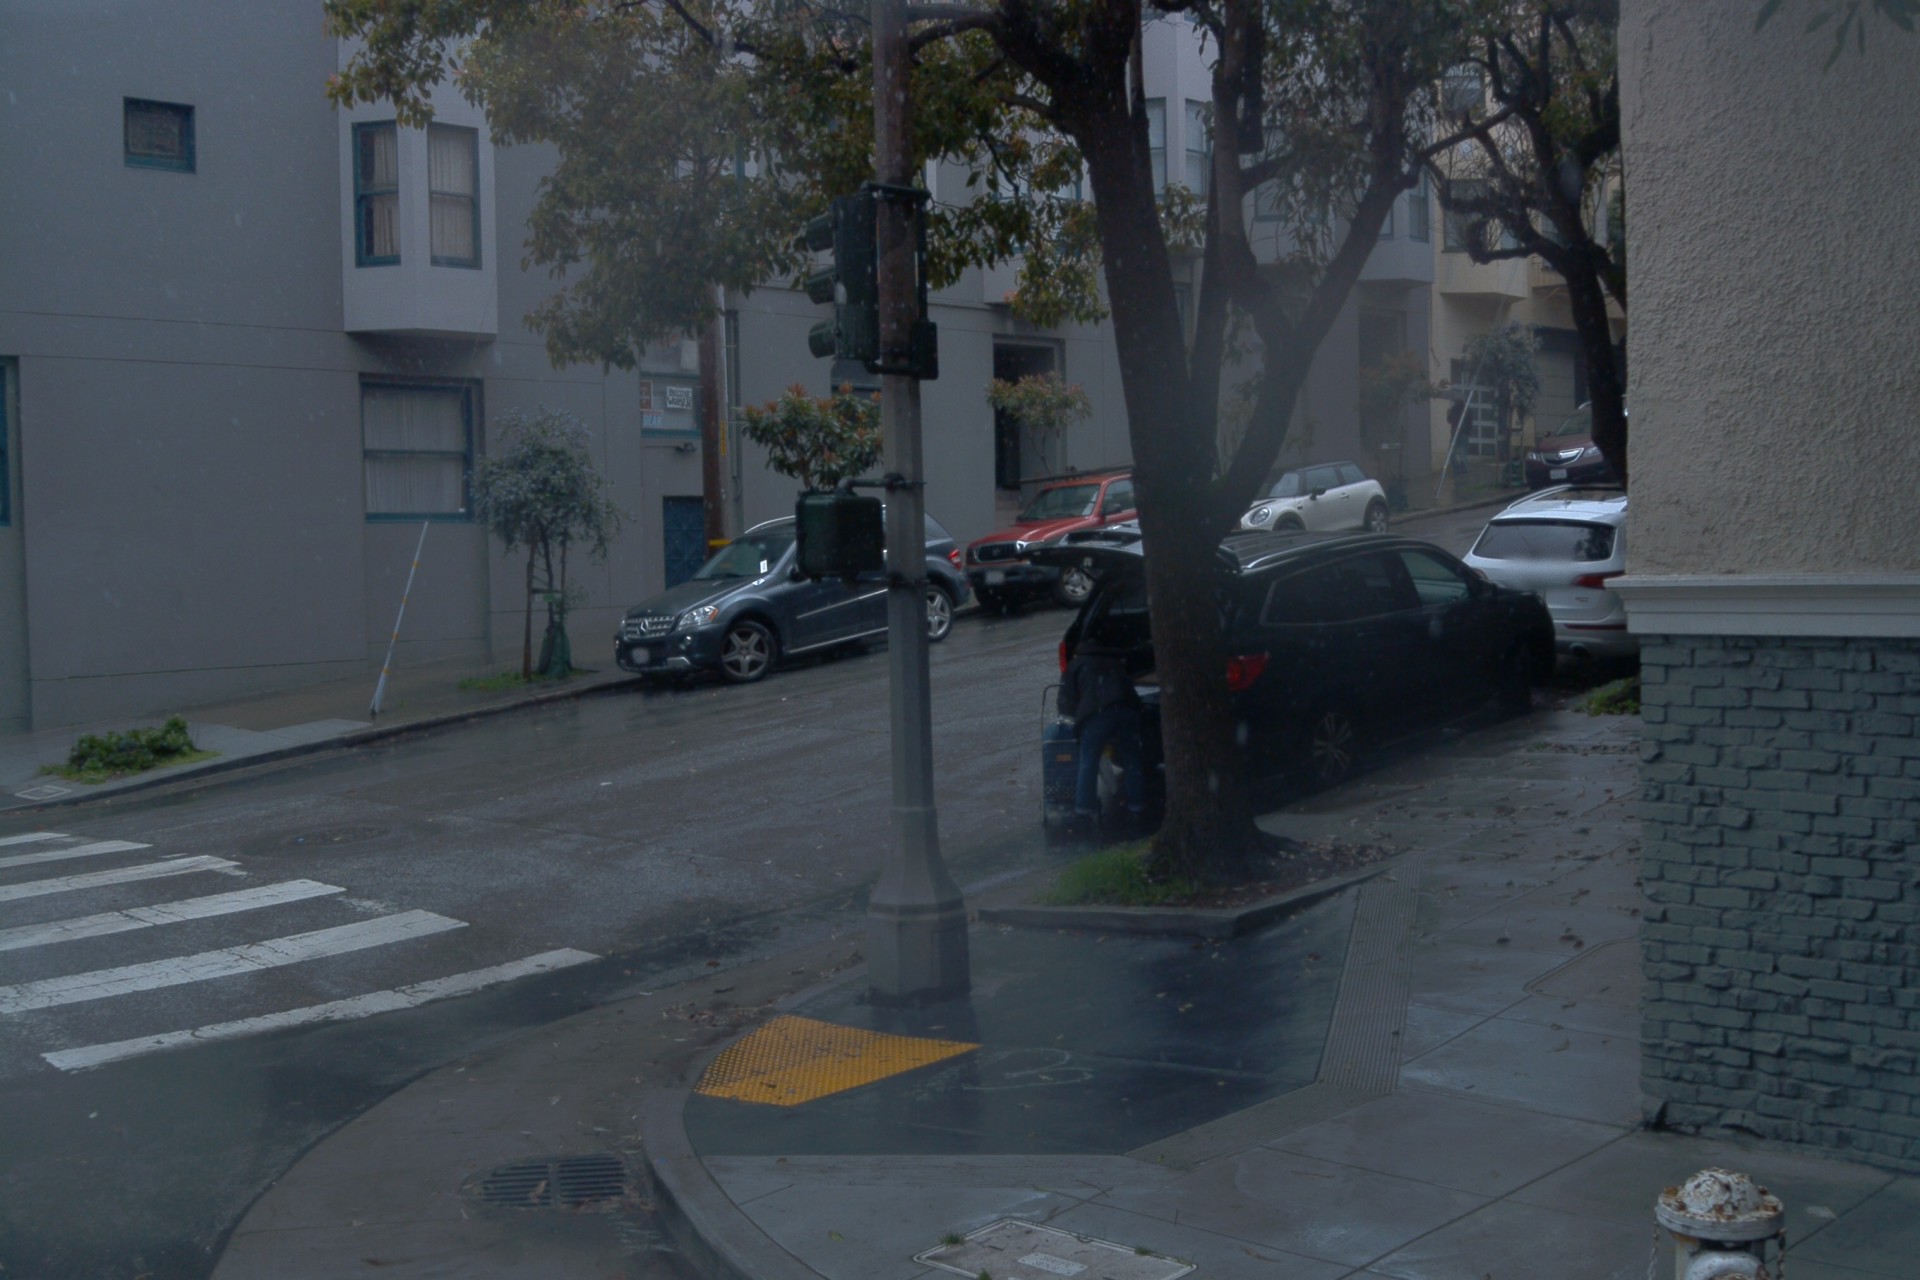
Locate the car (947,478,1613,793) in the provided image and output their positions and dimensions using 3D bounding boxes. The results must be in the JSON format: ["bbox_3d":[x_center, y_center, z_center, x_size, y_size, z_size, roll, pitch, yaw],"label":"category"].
[{"bbox_3d":[2.723,-0.022,16.096,2.384,2.040,5.680,0,0,43],"label":"car"}]

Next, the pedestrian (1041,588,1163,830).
[{"bbox_3d":[1.003,0.465,14.252,0.792,1.634,0.885,0,0,8],"label":"pedestrian"}]

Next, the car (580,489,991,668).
[{"bbox_3d":[-2.050,-0.673,24.964,2.225,1.980,4.671,0,0,45],"label":"car"}]

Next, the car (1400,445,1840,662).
[{"bbox_3d":[6.524,-0.728,19.878,2.355,1.840,4.675,0,0,42],"label":"car"}]

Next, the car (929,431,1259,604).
[{"bbox_3d":[1.985,-1.652,29.236,4.537,2.180,2.259,0,0,-45],"label":"car"}]
